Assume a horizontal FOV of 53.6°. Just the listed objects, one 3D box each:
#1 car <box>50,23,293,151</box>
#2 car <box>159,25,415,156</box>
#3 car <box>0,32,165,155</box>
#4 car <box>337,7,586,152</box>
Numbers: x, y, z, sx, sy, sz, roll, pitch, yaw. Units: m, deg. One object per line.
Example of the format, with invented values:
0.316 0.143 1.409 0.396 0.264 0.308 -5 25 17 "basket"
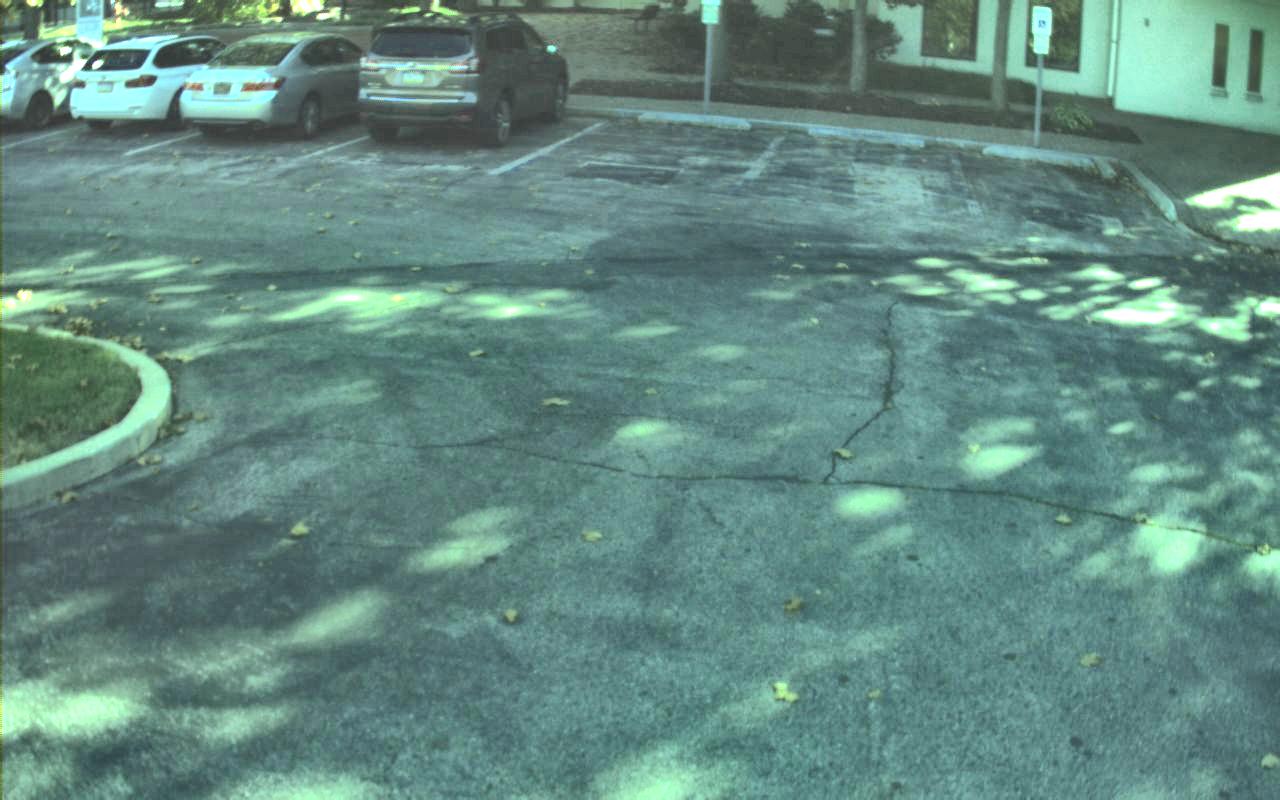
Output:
-7.461 -5.074 18.620 1.917 1.614 4.427 3 17 13 "car"
-5.097 -4.637 17.628 1.892 1.556 4.360 3 17 15 "car"
-10.189 -5.311 19.200 1.939 1.591 4.514 2 17 12 "car"
-2.368 -4.656 17.446 2.038 1.748 4.801 2 17 12 "car"
